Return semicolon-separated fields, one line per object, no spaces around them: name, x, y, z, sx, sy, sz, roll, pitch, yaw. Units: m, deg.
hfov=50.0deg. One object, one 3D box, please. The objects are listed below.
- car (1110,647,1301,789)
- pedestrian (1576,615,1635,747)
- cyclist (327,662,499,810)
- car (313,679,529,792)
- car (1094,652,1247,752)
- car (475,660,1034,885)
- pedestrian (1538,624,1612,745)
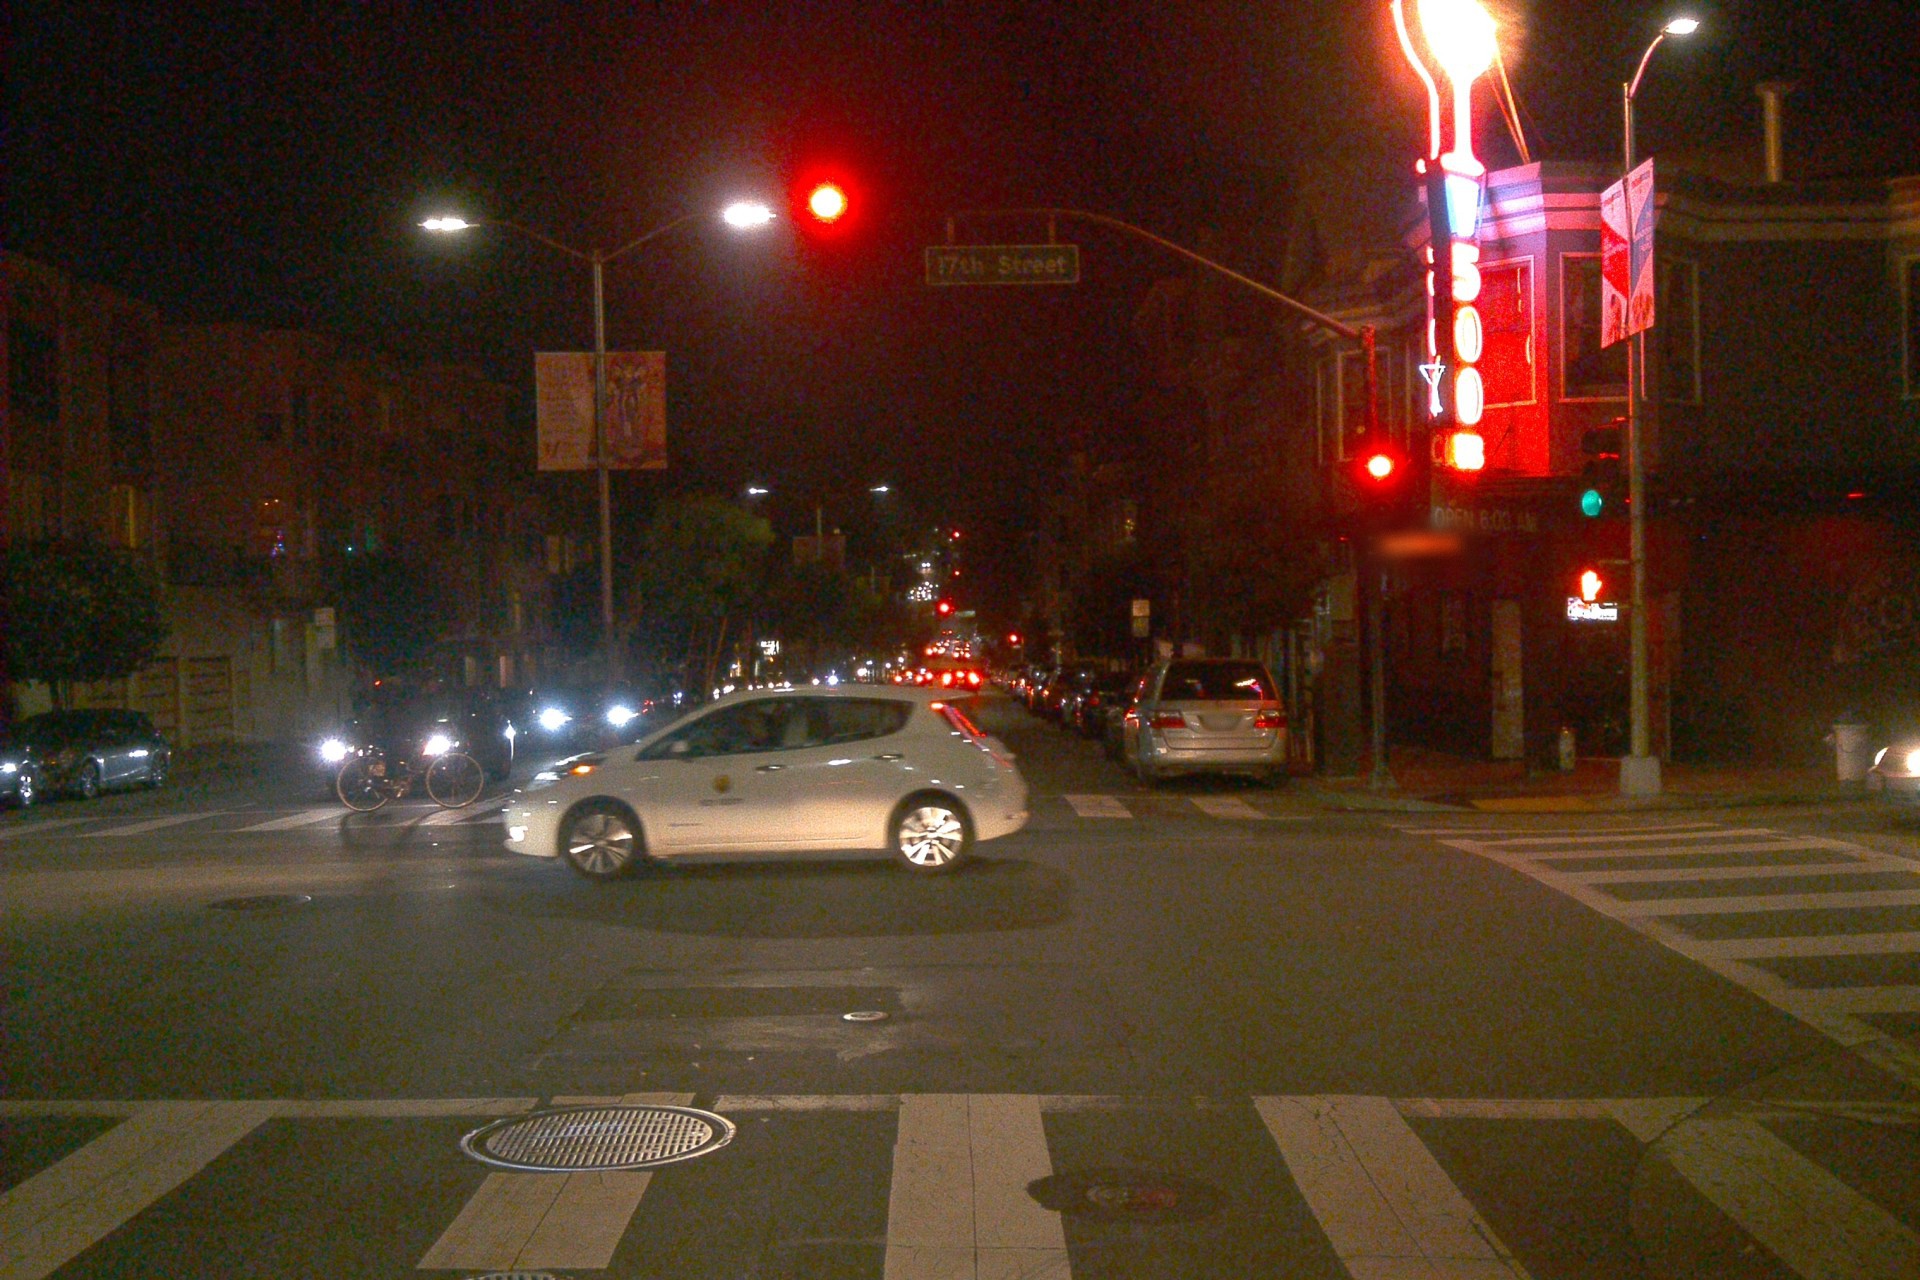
car;3.292;0.998;28.469;2.087;1.770;4.655;1;0;0
pedestrian;9.054;0.565;28.828;0.739;1.820;0.628;1;0;20
cyclist;-6.664;1.161;25.123;1.915;1.760;0.823;1;0;-6
car;-7.617;1.314;29.507;1.903;1.390;4.511;1;0;0
car;3.326;0.958;33.307;1.810;1.470;4.216;1;0;-3
car;-1.611;1.059;17.323;4.442;1.720;1.937;1;0;2
pedestrian;8.817;0.632;29.497;0.721;1.720;0.691;1;0;-18
